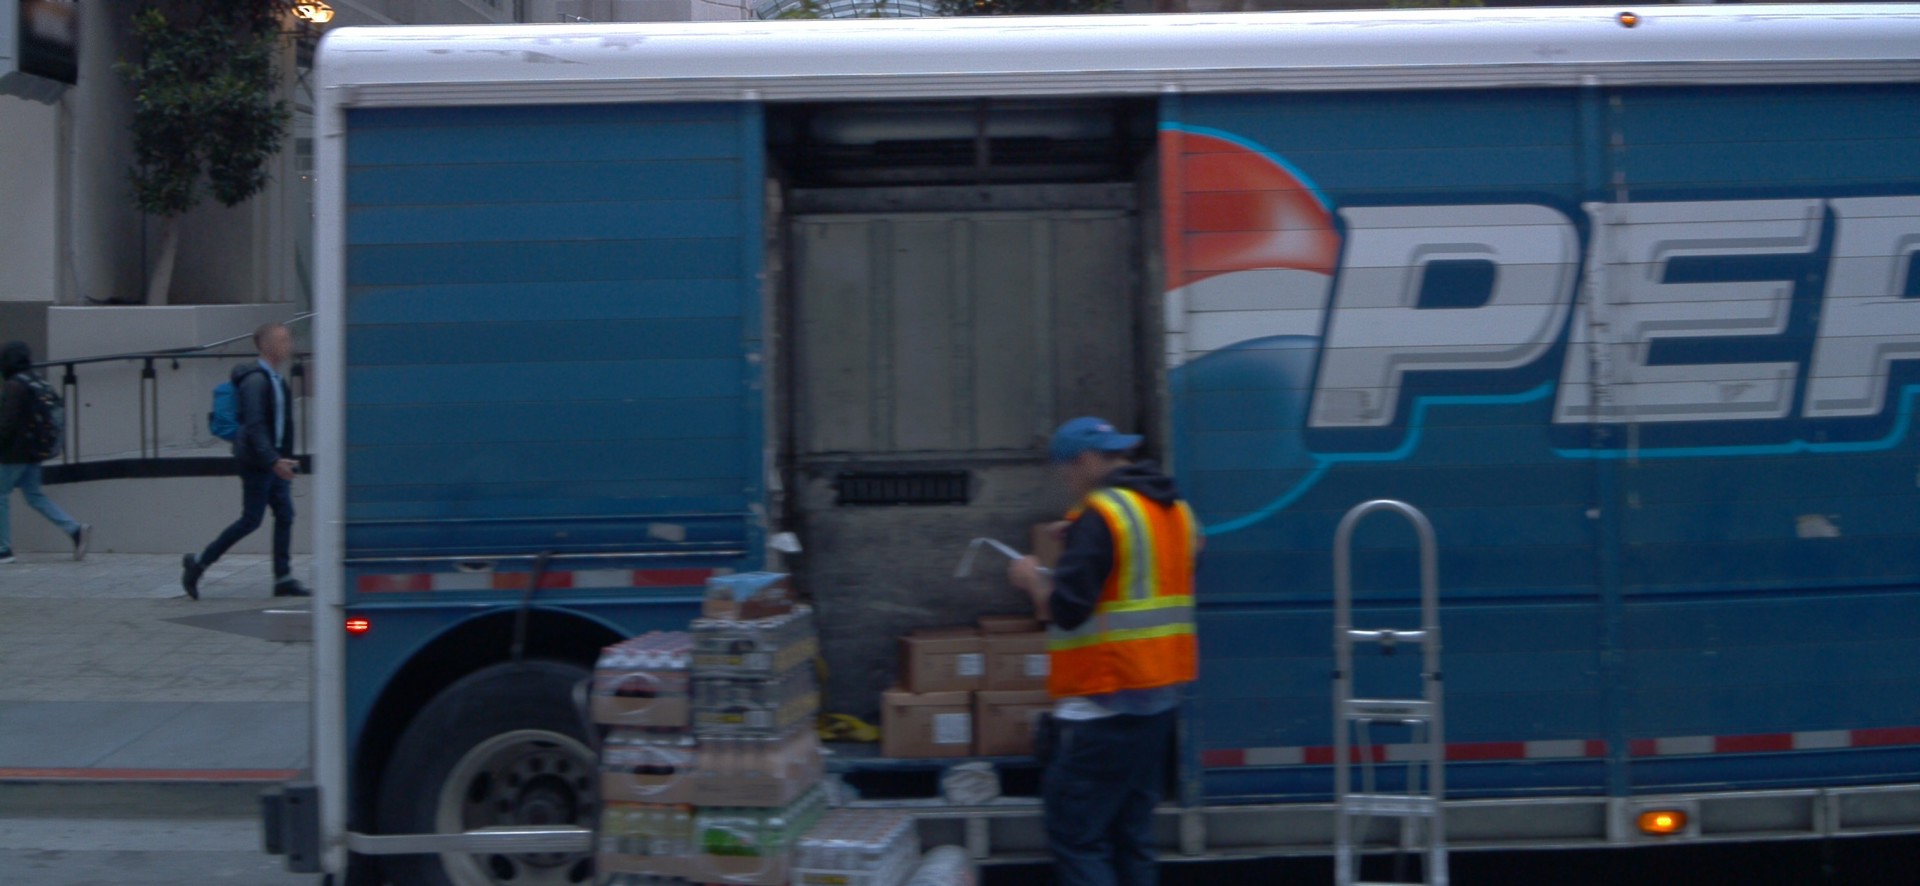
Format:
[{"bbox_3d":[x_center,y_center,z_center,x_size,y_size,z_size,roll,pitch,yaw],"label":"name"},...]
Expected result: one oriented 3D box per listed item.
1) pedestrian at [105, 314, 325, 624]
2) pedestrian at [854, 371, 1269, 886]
[{"bbox_3d":[-4.743,0.131,13.225,1.053,1.856,0.923,-1,2,-1],"label":"pedestrian"},{"bbox_3d":[0.320,0.768,6.068,0.835,1.856,0.987,1,3,31],"label":"pedestrian"}]
